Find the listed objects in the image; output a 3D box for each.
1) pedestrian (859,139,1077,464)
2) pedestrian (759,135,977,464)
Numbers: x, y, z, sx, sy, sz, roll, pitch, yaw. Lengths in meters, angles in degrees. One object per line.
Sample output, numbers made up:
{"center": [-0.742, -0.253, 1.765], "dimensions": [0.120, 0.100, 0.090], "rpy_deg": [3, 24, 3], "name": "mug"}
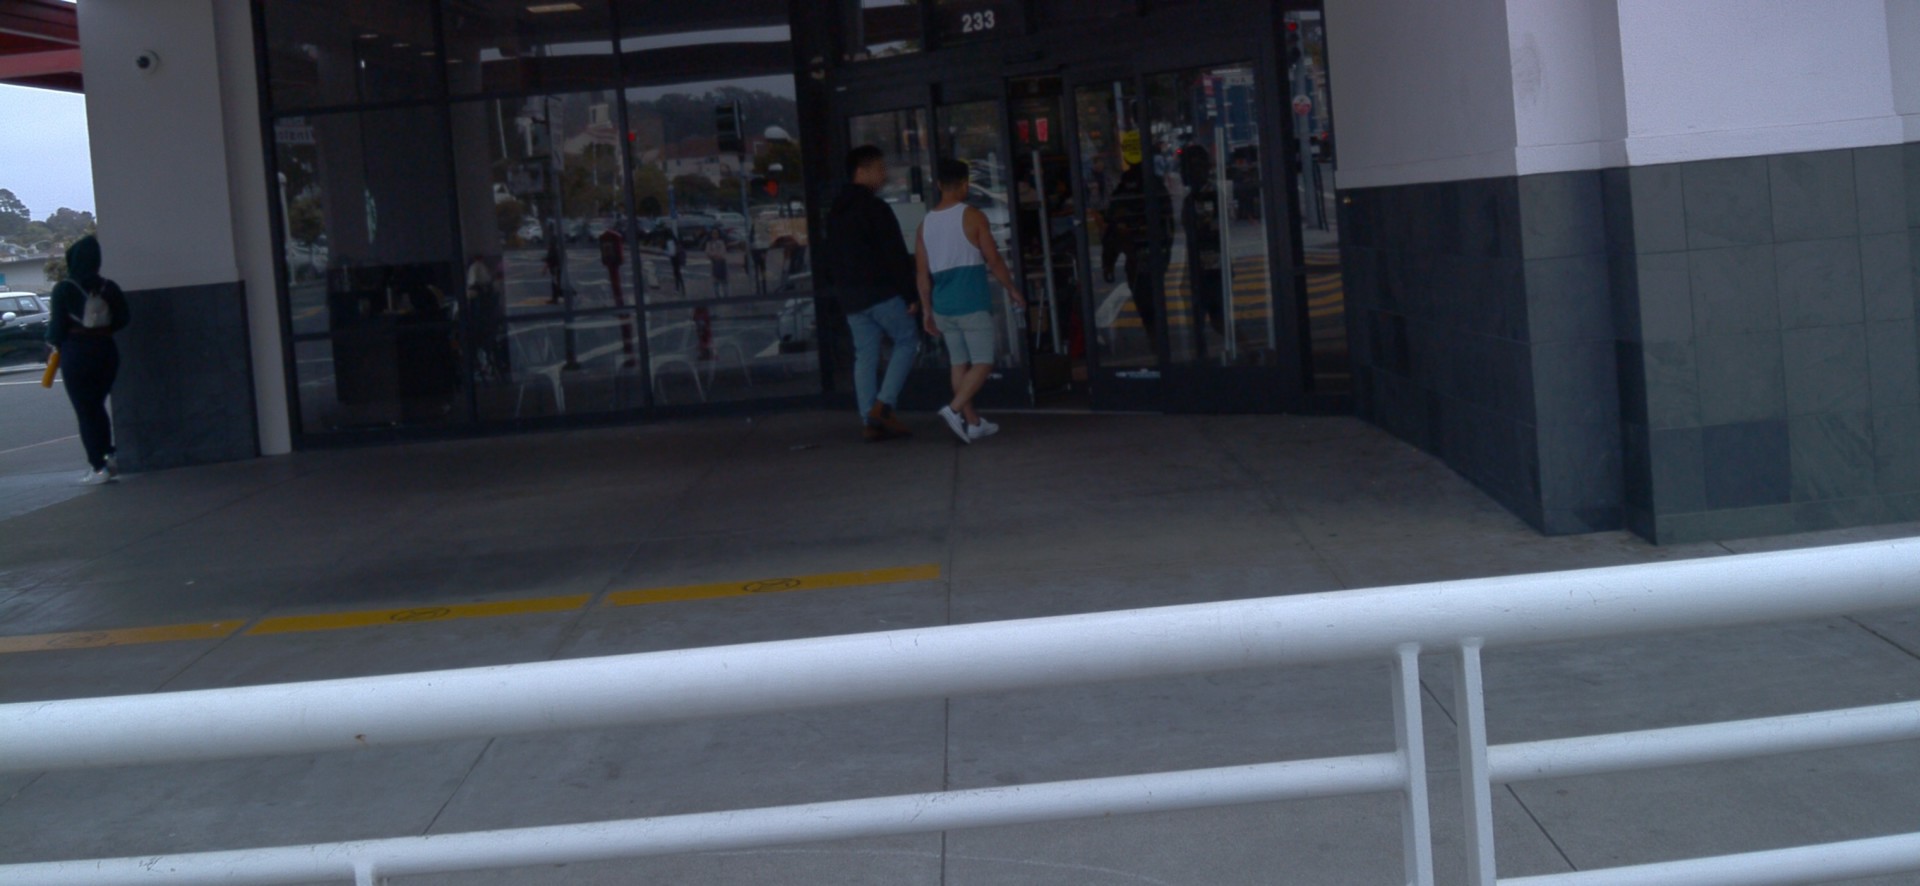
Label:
{"center": [0.056, -0.812, 11.521], "dimensions": [0.718, 1.719, 1.044], "rpy_deg": [1, 2, 40], "name": "pedestrian"}
{"center": [-0.527, -0.852, 11.919], "dimensions": [0.784, 1.809, 1.020], "rpy_deg": [1, 2, 39], "name": "pedestrian"}
